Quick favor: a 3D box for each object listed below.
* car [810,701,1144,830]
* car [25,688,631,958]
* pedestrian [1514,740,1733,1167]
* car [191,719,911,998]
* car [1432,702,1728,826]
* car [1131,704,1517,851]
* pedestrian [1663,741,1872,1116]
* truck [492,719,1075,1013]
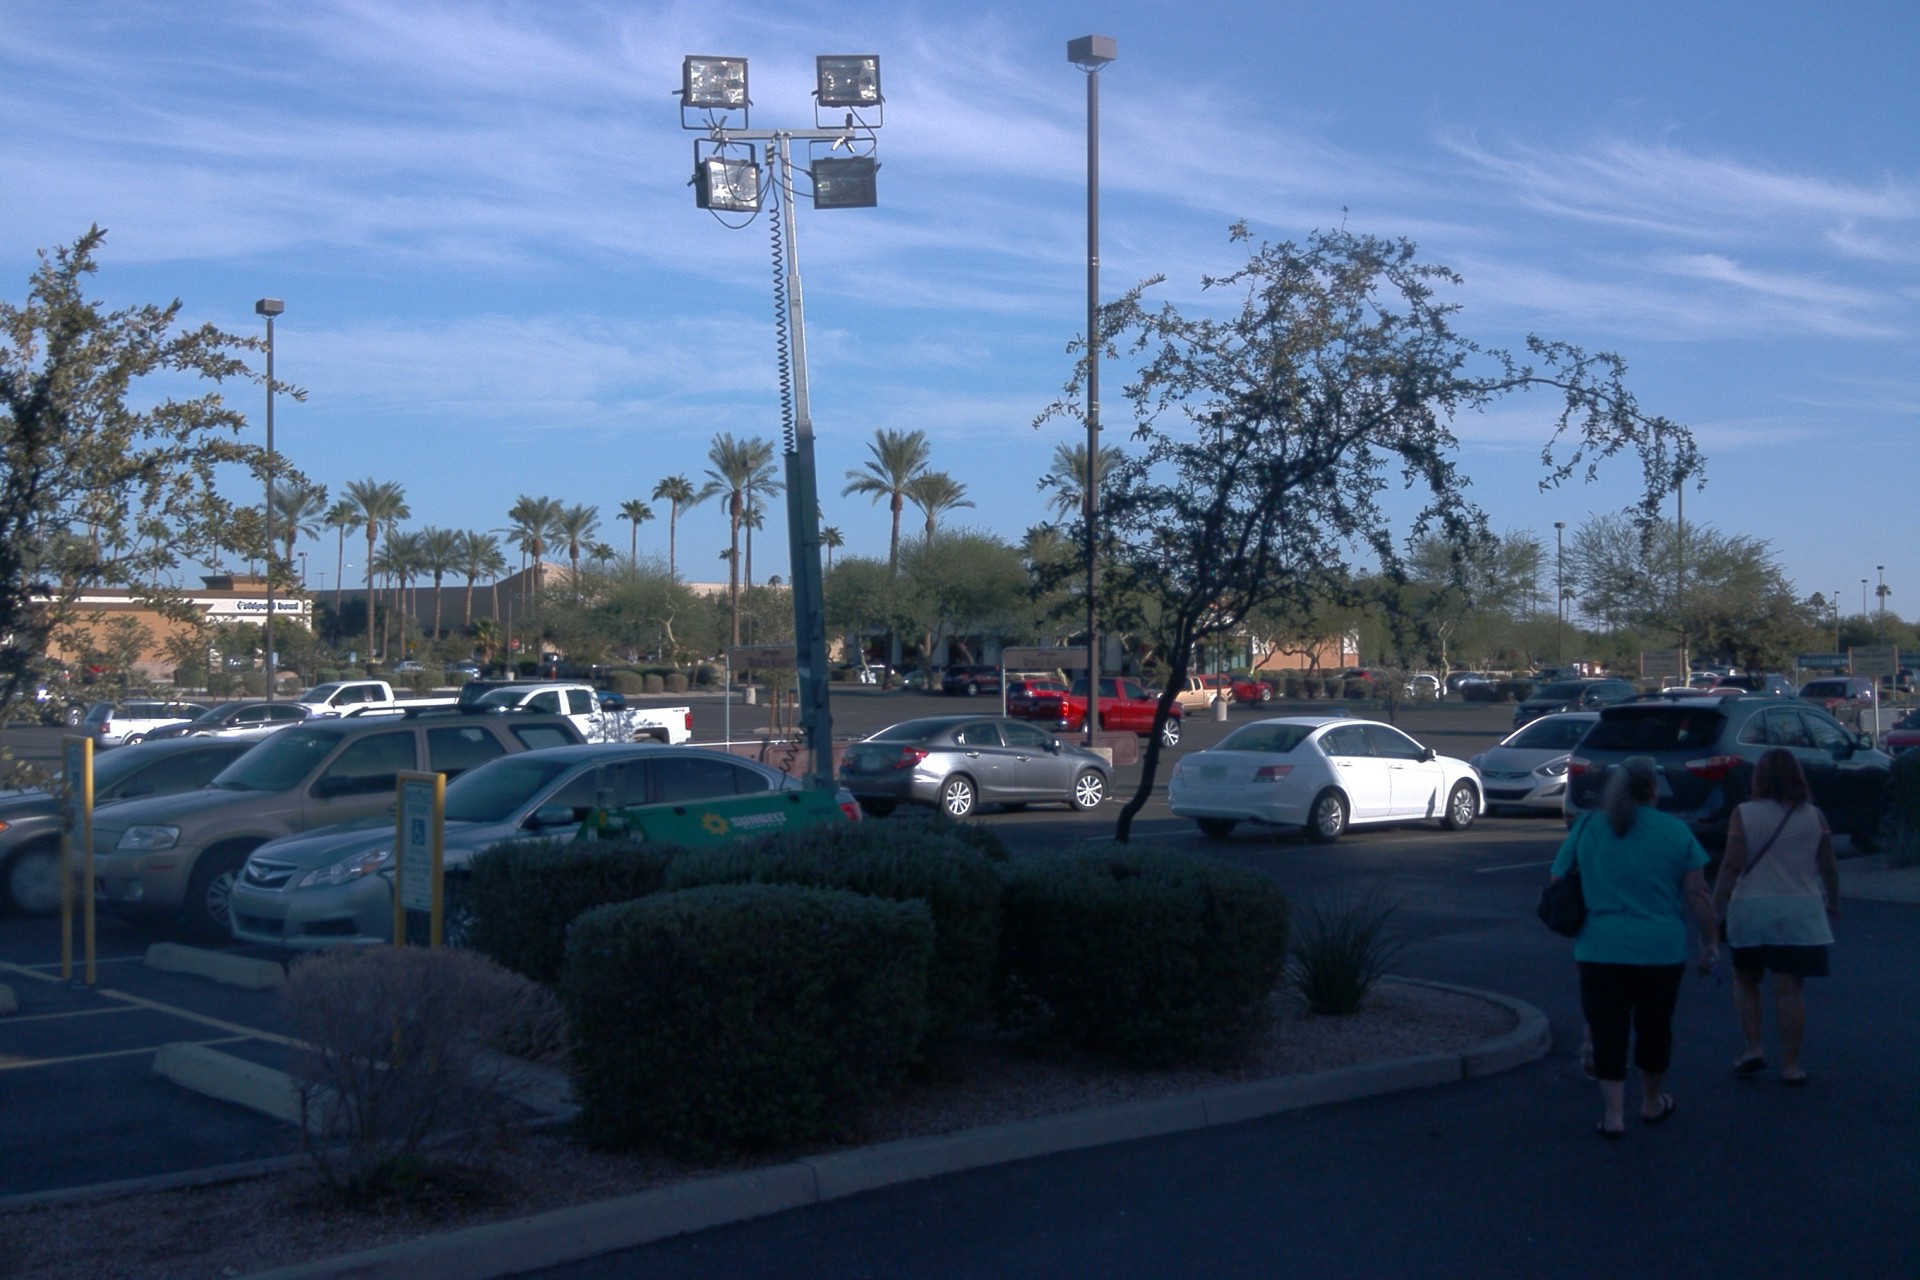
[{"bbox_3d":[0.311,1.728,30.076,2.187,1.560,4.643,0,0,45],"label":"car"},{"bbox_3d":[-5.064,1.359,17.156,4.338,1.810,1.971,0,0,-45],"label":"car"},{"bbox_3d":[2.932,1.321,9.200,0.860,1.700,0.905,0,0,21],"label":"pedestrian"},{"bbox_3d":[-2.874,1.454,15.463,4.834,1.540,2.108,0,0,-42],"label":"car"},{"bbox_3d":[8.986,1.709,30.107,4.695,1.490,2.055,0,0,-44],"label":"car"},{"bbox_3d":[4.637,1.633,26.175,5.046,1.500,2.172,0,0,-43],"label":"car"},{"bbox_3d":[3.924,1.363,10.233,0.838,1.680,0.919,0,0,13],"label":"pedestrian"},{"bbox_3d":[-1.049,1.319,13.332,3.397,1.480,1.655,0,0,-43],"label":"truck"}]
